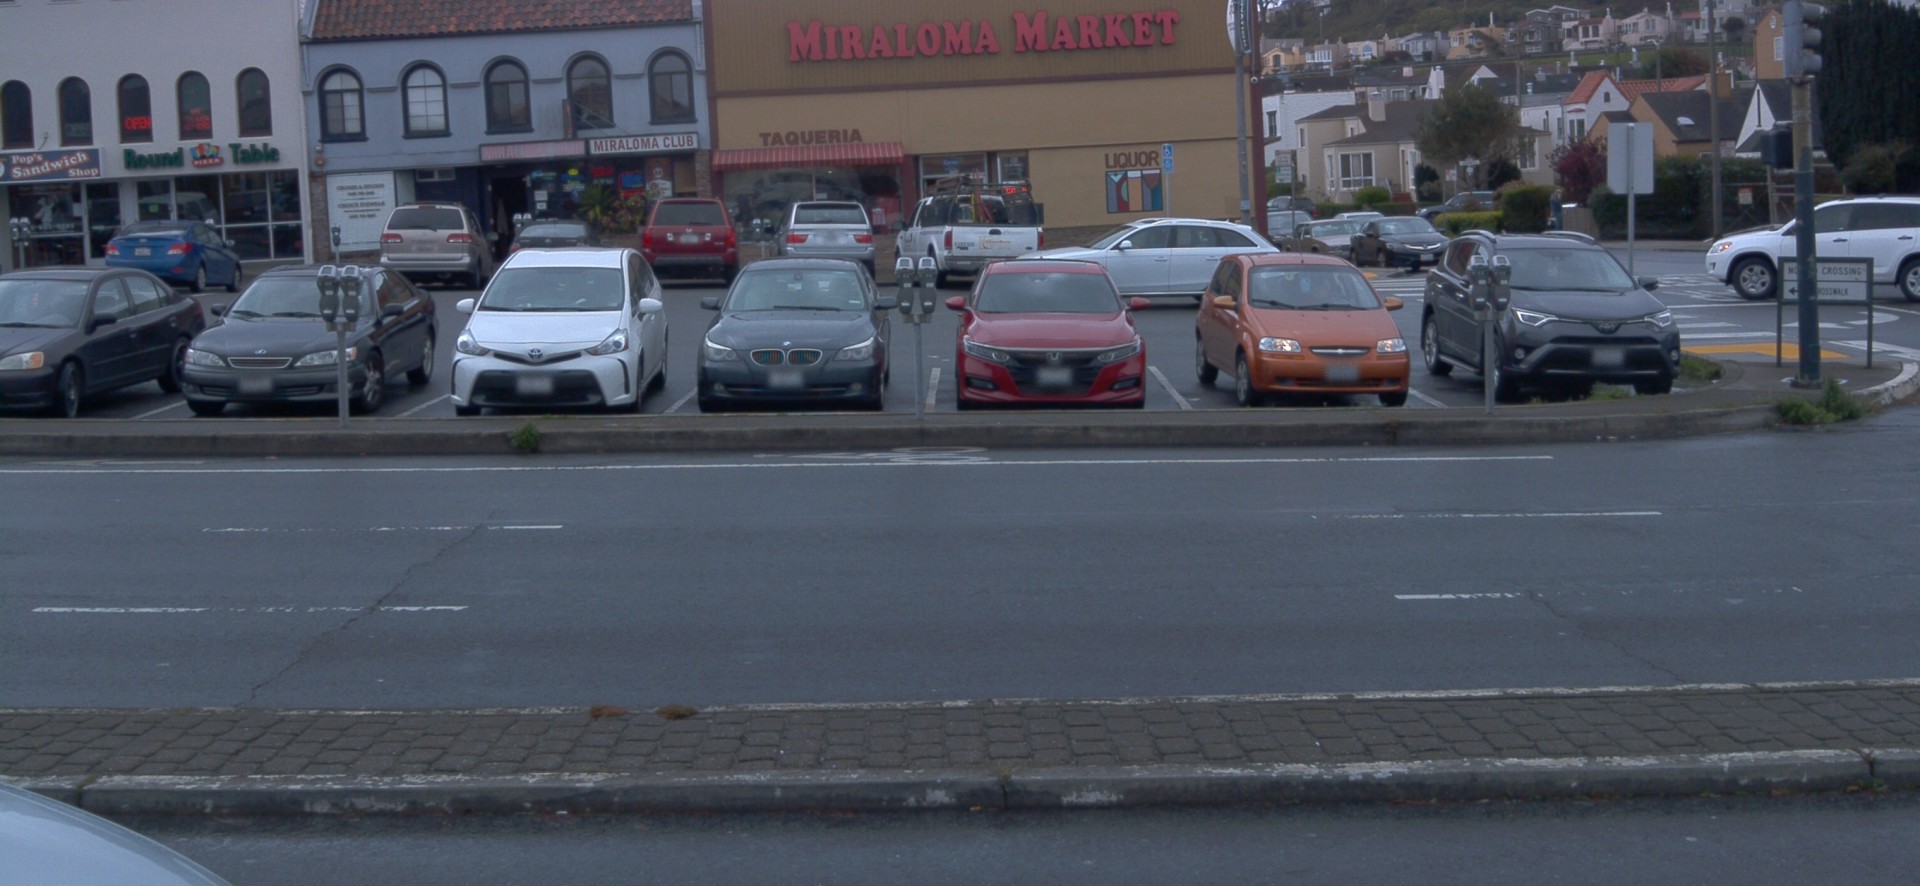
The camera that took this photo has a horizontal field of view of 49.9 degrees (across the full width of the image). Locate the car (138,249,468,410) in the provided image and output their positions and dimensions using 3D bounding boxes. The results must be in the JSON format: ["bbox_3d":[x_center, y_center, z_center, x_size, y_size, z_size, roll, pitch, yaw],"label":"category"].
[{"bbox_3d":[-6.720,-1.284,21.702,2.023,1.392,4.712,0,6,-1],"label":"car"}]

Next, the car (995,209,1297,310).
[{"bbox_3d":[3.081,-3.115,34.623,4.665,1.604,2.075,-1,5,-12],"label":"car"}]

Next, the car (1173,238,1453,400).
[{"bbox_3d":[3.600,-1.395,21.816,2.049,1.462,4.037,0,6,-4],"label":"car"}]

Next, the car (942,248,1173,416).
[{"bbox_3d":[0.904,-1.268,21.830,2.185,1.461,4.636,0,6,-1],"label":"car"}]

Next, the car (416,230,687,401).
[{"bbox_3d":[-4.061,-1.414,21.303,2.132,1.491,4.678,0,6,-4],"label":"car"}]

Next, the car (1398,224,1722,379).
[{"bbox_3d":[6.387,-1.639,22.575,2.205,1.461,4.580,0,6,0],"label":"car"}]

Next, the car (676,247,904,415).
[{"bbox_3d":[-1.660,-1.268,21.658,2.112,1.461,4.574,0,6,-1],"label":"car"}]
